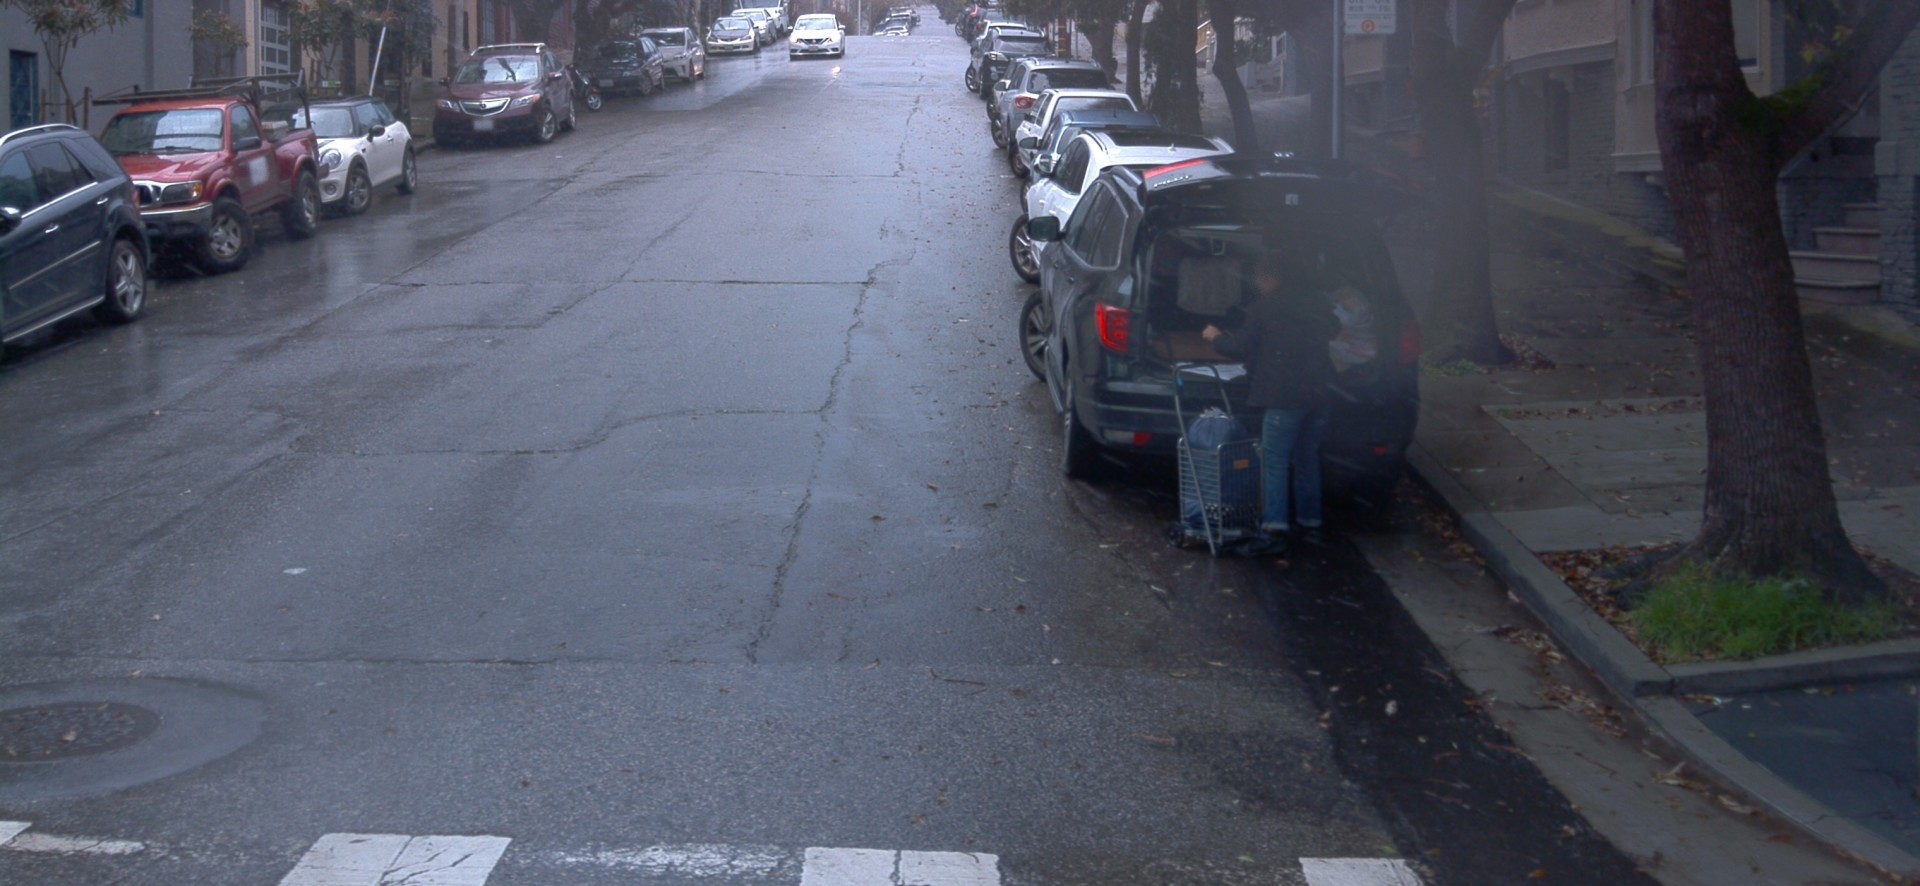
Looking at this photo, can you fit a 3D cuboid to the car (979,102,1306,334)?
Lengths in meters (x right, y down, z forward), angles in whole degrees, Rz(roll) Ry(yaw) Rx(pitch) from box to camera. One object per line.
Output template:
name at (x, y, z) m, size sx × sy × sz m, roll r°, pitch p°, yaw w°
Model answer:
car at (1.484, -2.024, 18.667) m, size 2.348 × 1.833 × 4.711 m, roll 0°, pitch 5°, yaw -3°

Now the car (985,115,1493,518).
car at (1.462, -0.921, 13.275) m, size 2.376 × 2.032 × 5.725 m, roll 0°, pitch 5°, yaw -1°

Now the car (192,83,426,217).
car at (-8.412, -3.774, 26.785) m, size 1.910 × 1.574 × 3.809 m, roll 0°, pitch 5°, yaw -1°

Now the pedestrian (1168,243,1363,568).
pedestrian at (1.593, -0.235, 10.780) m, size 0.792 × 1.633 × 0.887 m, roll 0°, pitch 1°, yaw -8°
